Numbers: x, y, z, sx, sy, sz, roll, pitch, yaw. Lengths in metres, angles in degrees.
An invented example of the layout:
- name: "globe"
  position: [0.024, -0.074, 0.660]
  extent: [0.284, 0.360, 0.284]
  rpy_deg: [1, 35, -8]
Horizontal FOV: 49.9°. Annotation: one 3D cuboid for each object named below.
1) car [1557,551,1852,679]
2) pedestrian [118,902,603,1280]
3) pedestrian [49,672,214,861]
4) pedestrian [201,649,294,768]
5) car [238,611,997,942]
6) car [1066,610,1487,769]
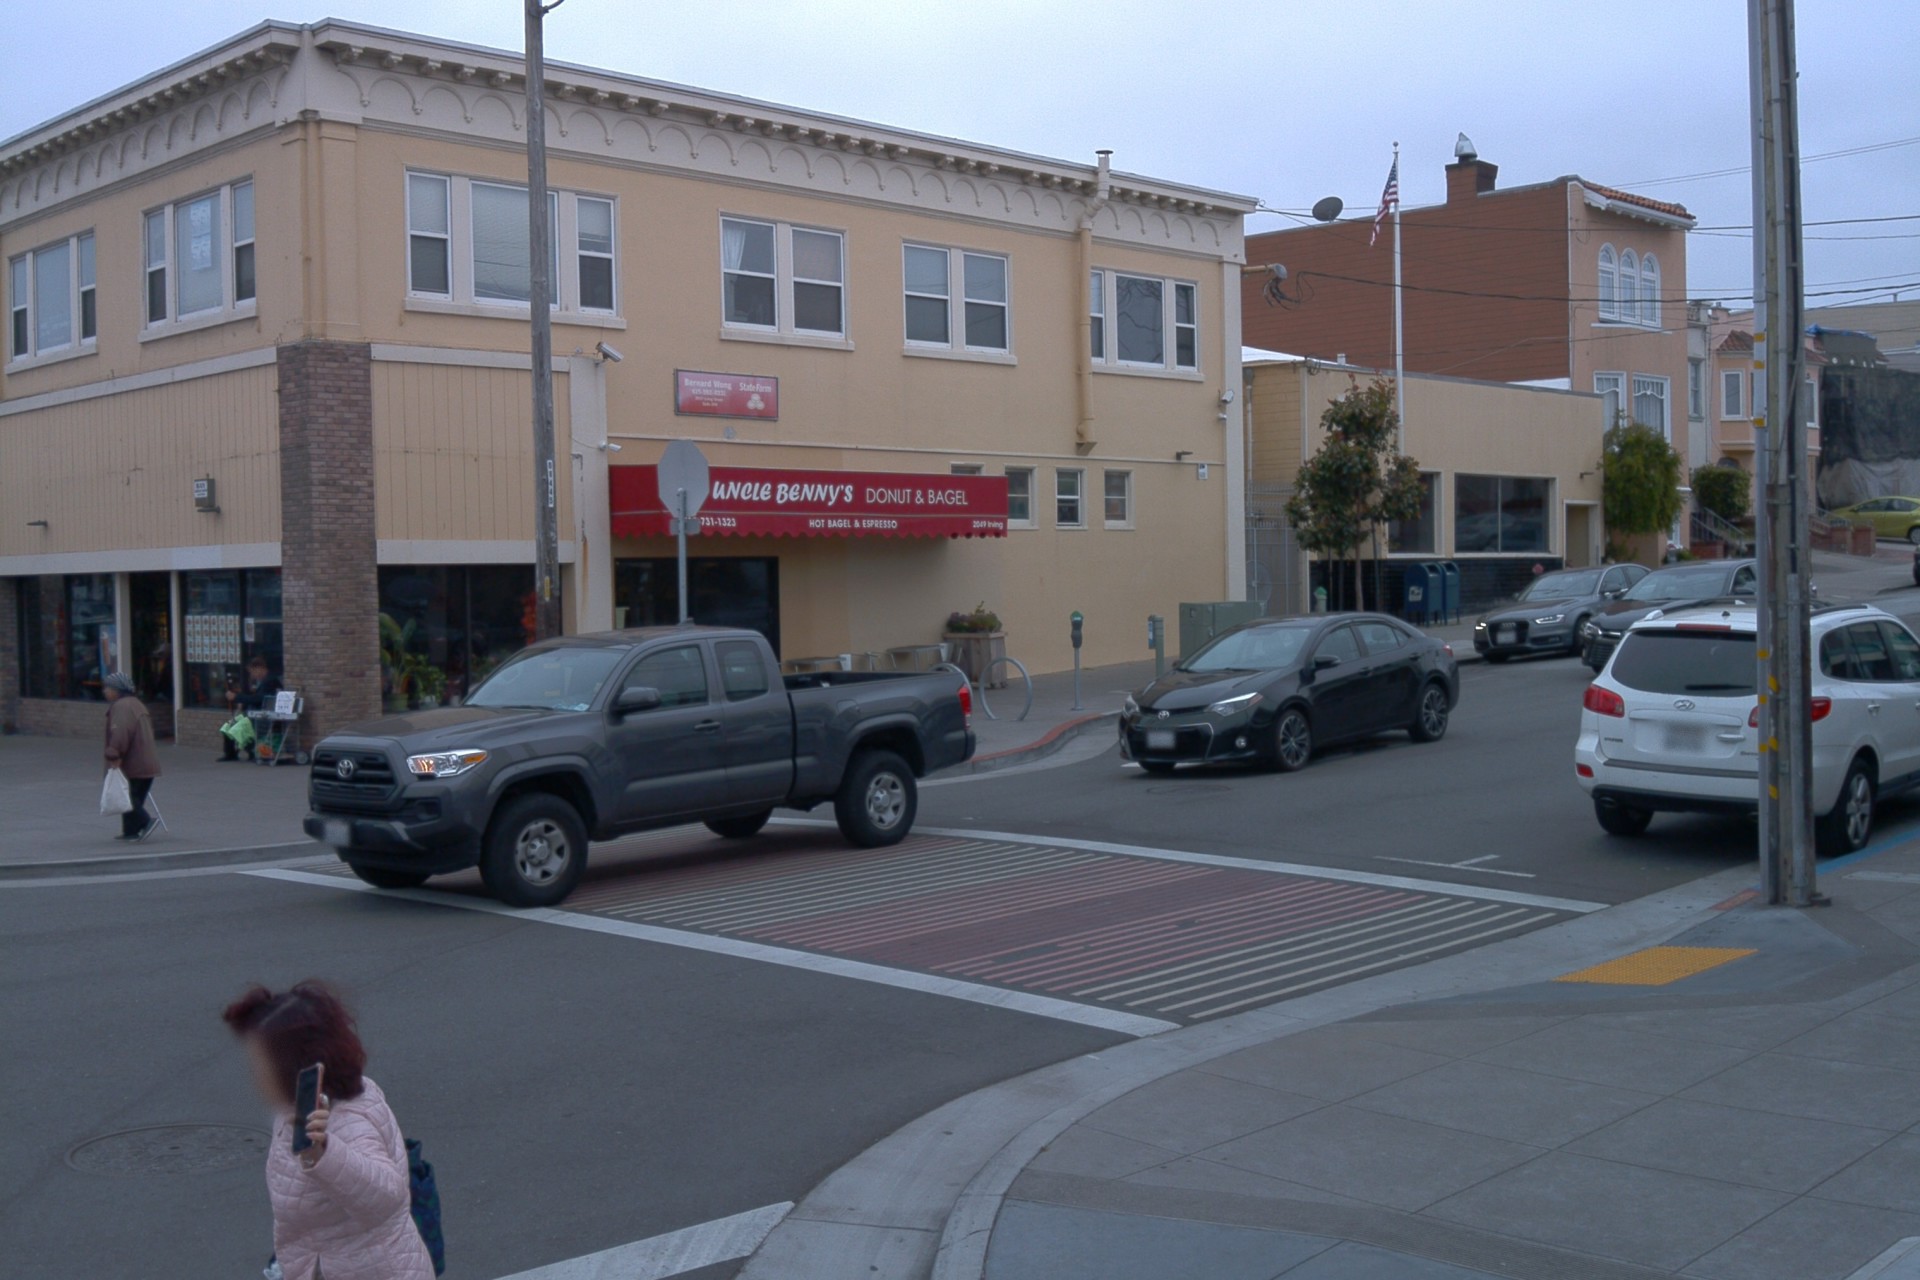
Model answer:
- name: "car"
  position: [10.507, -0.343, 28.953]
  extent: [2.082, 1.644, 4.864]
  rpy_deg: [1, 1, 44]
- name: "pedestrian"
  position: [-1.231, 1.351, 4.223]
  extent: [0.849, 1.479, 0.912]
  rpy_deg: [0, 1, -18]
- name: "pedestrian"
  position: [-6.827, 1.018, 17.063]
  extent: [0.832, 1.477, 1.067]
  rpy_deg: [0, 1, 10]
- name: "pedestrian"
  position: [-8.563, 0.808, 24.839]
  extent: [0.878, 1.374, 0.735]
  rpy_deg: [1, 1, 44]
- name: "car"
  position: [-2.275, 0.800, 15.234]
  extent: [2.075, 2.008, 5.437]
  rpy_deg: [0, 1, 41]
- name: "car"
  position: [3.328, 0.422, 21.079]
  extent: [2.067, 1.440, 4.540]
  rpy_deg: [0, 1, 42]
